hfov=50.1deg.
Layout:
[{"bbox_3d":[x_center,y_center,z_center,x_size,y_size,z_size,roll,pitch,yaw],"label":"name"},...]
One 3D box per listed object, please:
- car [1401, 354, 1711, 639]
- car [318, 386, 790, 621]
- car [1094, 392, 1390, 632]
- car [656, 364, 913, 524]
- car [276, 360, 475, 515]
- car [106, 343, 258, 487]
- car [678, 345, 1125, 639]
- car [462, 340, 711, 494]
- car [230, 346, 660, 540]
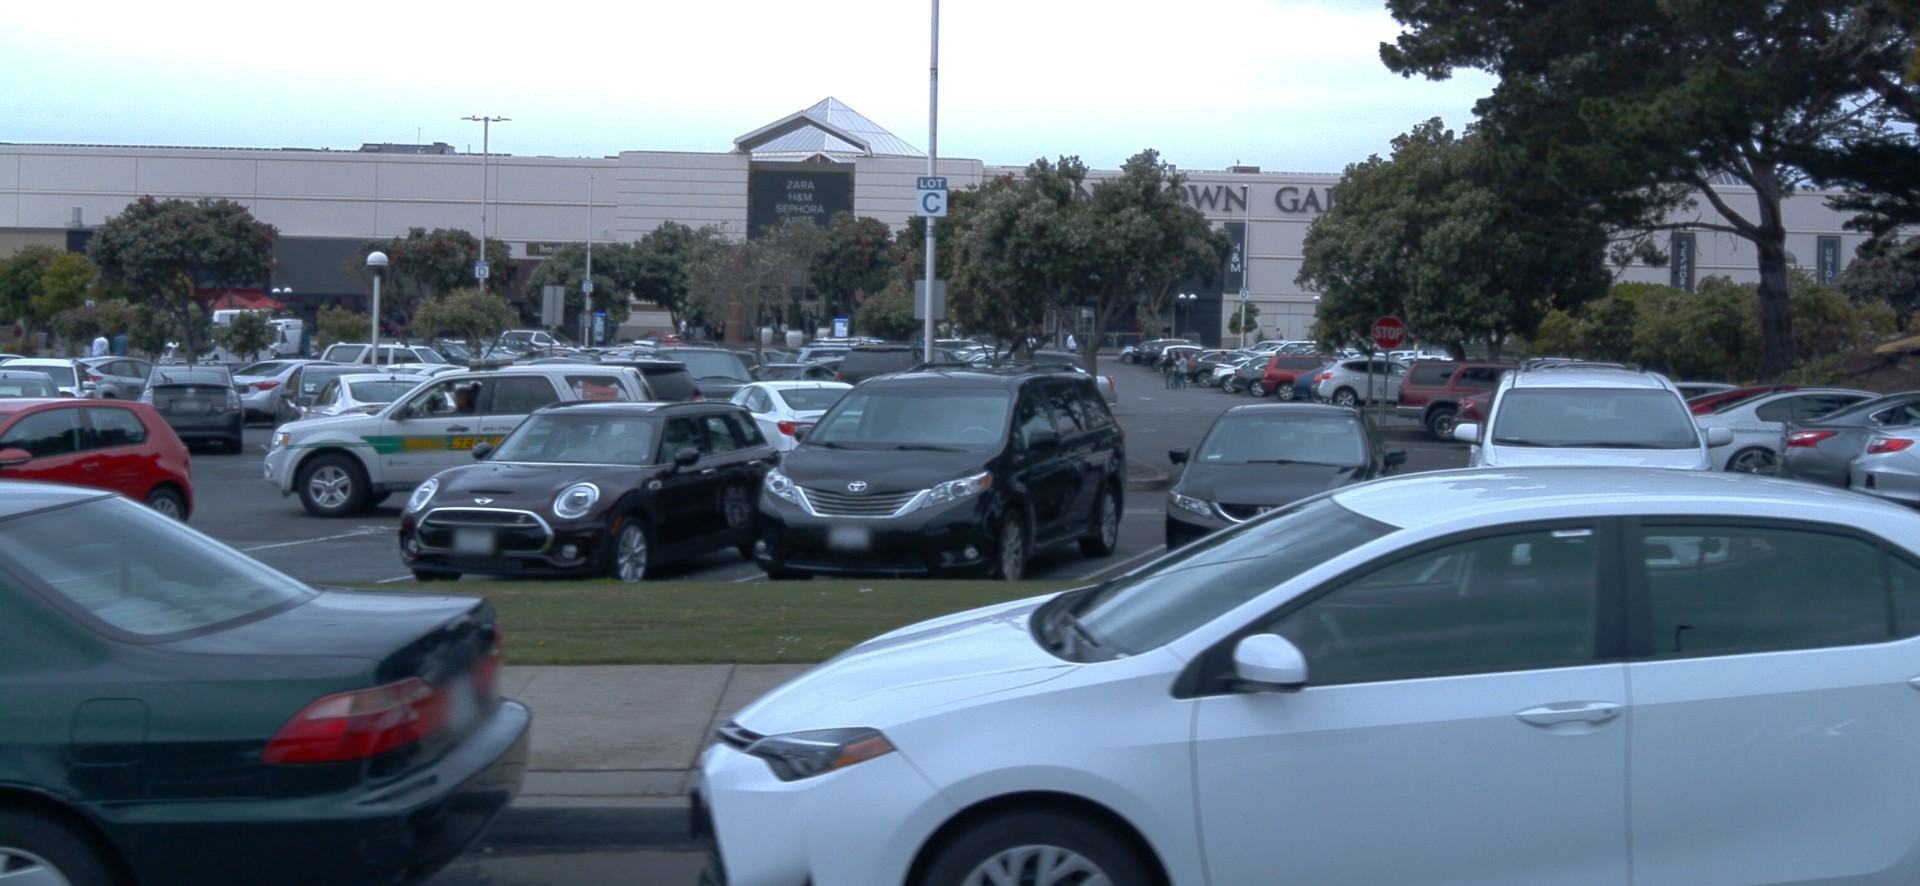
[{"bbox_3d":[5.262,0.292,18.604,2.338,1.883,5.115,1,5,14],"label":"car"},{"bbox_3d":[-3.254,0.376,17.466,2.168,1.384,4.294,1,5,17],"label":"car"},{"bbox_3d":[2.641,0.473,18.274,2.047,1.494,4.448,1,5,15],"label":"car"},{"bbox_3d":[-2.590,-0.088,29.030,2.333,1.716,4.743,-2,5,-22],"label":"car"},{"bbox_3d":[-8.241,-0.171,28.685,2.027,1.664,4.536,-2,5,-24],"label":"car"},{"bbox_3d":[-13.241,-0.574,35.214,2.172,2.003,4.873,-1,5,-18],"label":"car"},{"bbox_3d":[-0.286,0.231,17.786,2.235,1.853,5.087,1,5,19],"label":"car"},{"bbox_3d":[-5.335,-0.457,28.842,2.080,1.724,4.551,-2,5,-29],"label":"car"},{"bbox_3d":[-5.719,-0.054,23.334,4.436,1.957,2.078,0,3,-4],"label":"car"}]
